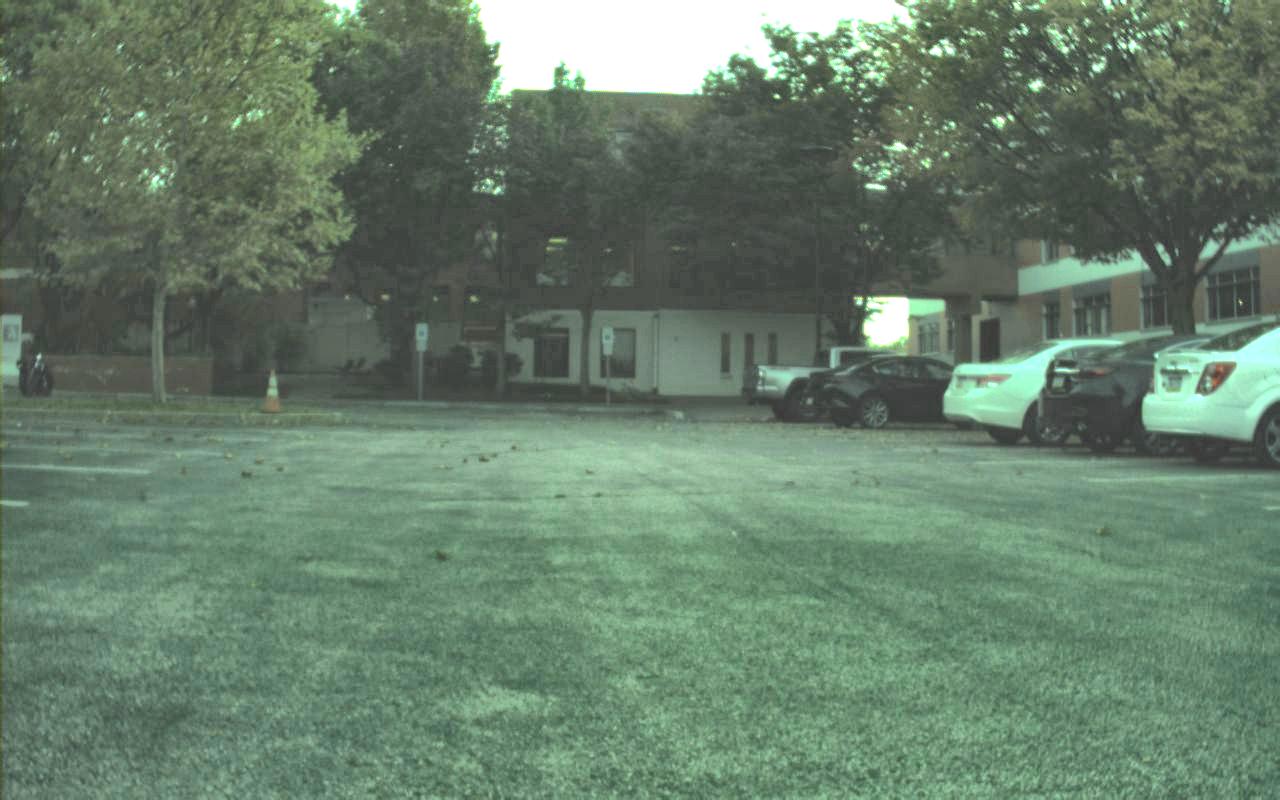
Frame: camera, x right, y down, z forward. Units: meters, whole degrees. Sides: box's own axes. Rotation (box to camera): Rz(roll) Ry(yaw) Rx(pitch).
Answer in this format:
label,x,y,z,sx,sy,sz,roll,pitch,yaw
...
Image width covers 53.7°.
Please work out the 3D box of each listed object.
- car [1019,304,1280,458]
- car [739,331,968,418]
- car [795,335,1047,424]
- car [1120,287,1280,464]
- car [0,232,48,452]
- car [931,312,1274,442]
label,x,y,z,sx,sy,sz,roll,pitch,yaw
car,6.873,-0.201,13.942,4.445,1.640,1.935,0,1,-7
car,4.956,-0.585,29.194,5.010,1.917,2.098,0,1,-8
car,5.468,-0.384,24.116,4.569,1.622,1.978,0,1,-10
car,7.217,-0.207,11.531,4.379,1.595,1.900,0,1,-5
car,-7.760,-0.442,9.356,4.575,1.701,2.008,0,1,-6
car,6.390,-0.283,16.460,4.594,1.640,1.967,0,1,1
